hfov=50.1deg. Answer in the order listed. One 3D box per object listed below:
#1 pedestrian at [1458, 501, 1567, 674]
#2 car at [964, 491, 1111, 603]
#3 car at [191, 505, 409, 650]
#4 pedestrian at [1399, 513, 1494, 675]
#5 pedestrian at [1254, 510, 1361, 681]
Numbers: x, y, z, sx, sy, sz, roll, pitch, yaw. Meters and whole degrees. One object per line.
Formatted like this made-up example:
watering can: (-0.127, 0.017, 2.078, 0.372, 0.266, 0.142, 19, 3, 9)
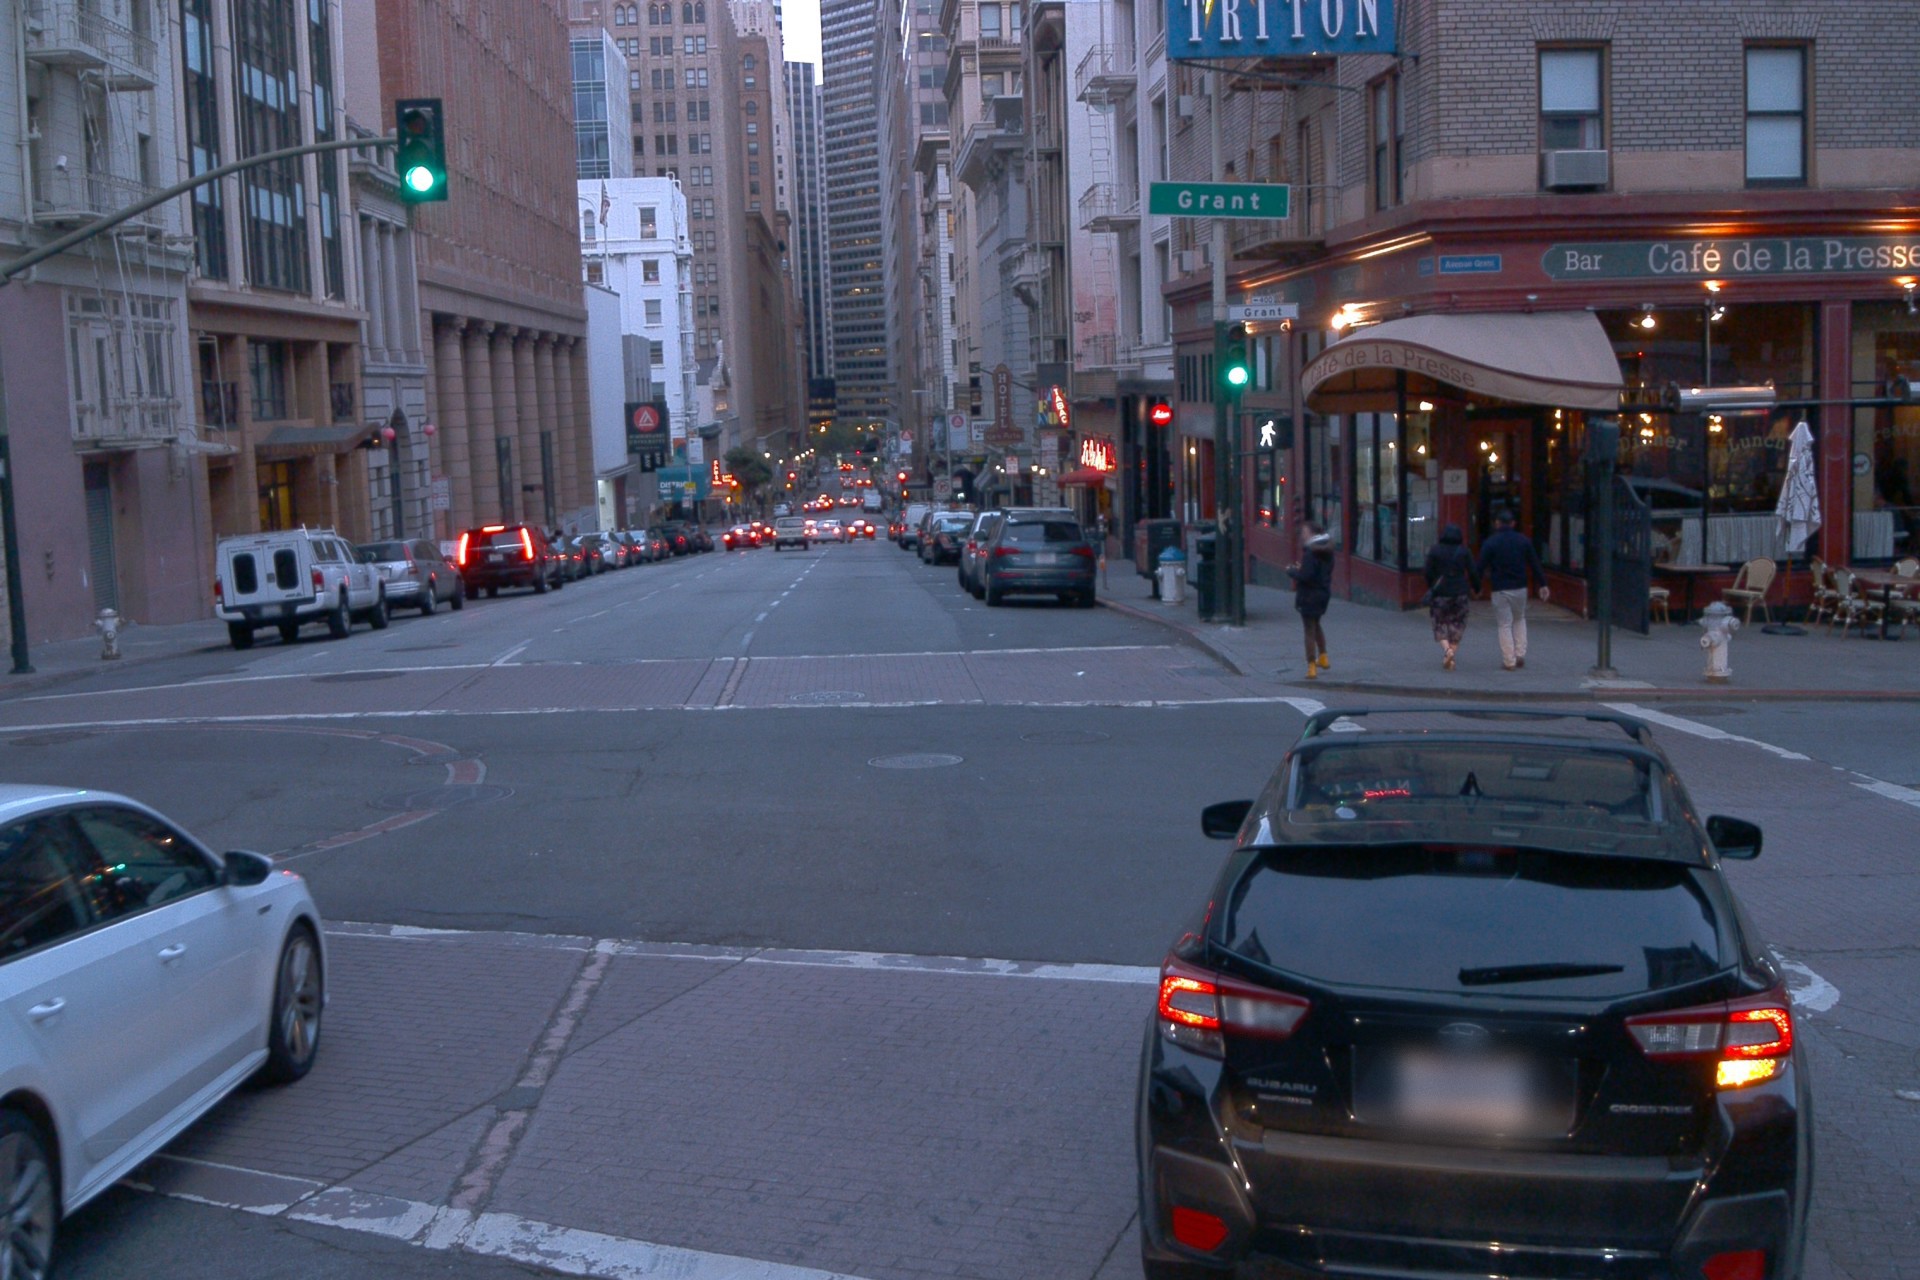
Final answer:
pedestrian: (5.777, -0.545, 21.531, 0.840, 1.766, 0.955, 0, 1, -3)
car: (1.311, -1.598, 36.859, 2.214, 1.850, 4.837, 0, 1, -3)
car: (-11.161, -1.021, 35.206, 2.286, 2.294, 5.437, 0, 1, -4)
pedestrian: (5.091, -0.478, 21.542, 0.767, 1.656, 0.957, 0, 1, 0)
pedestrian: (3.663, -0.463, 21.738, 1.064, 1.756, 0.905, 0, 1, 7)
